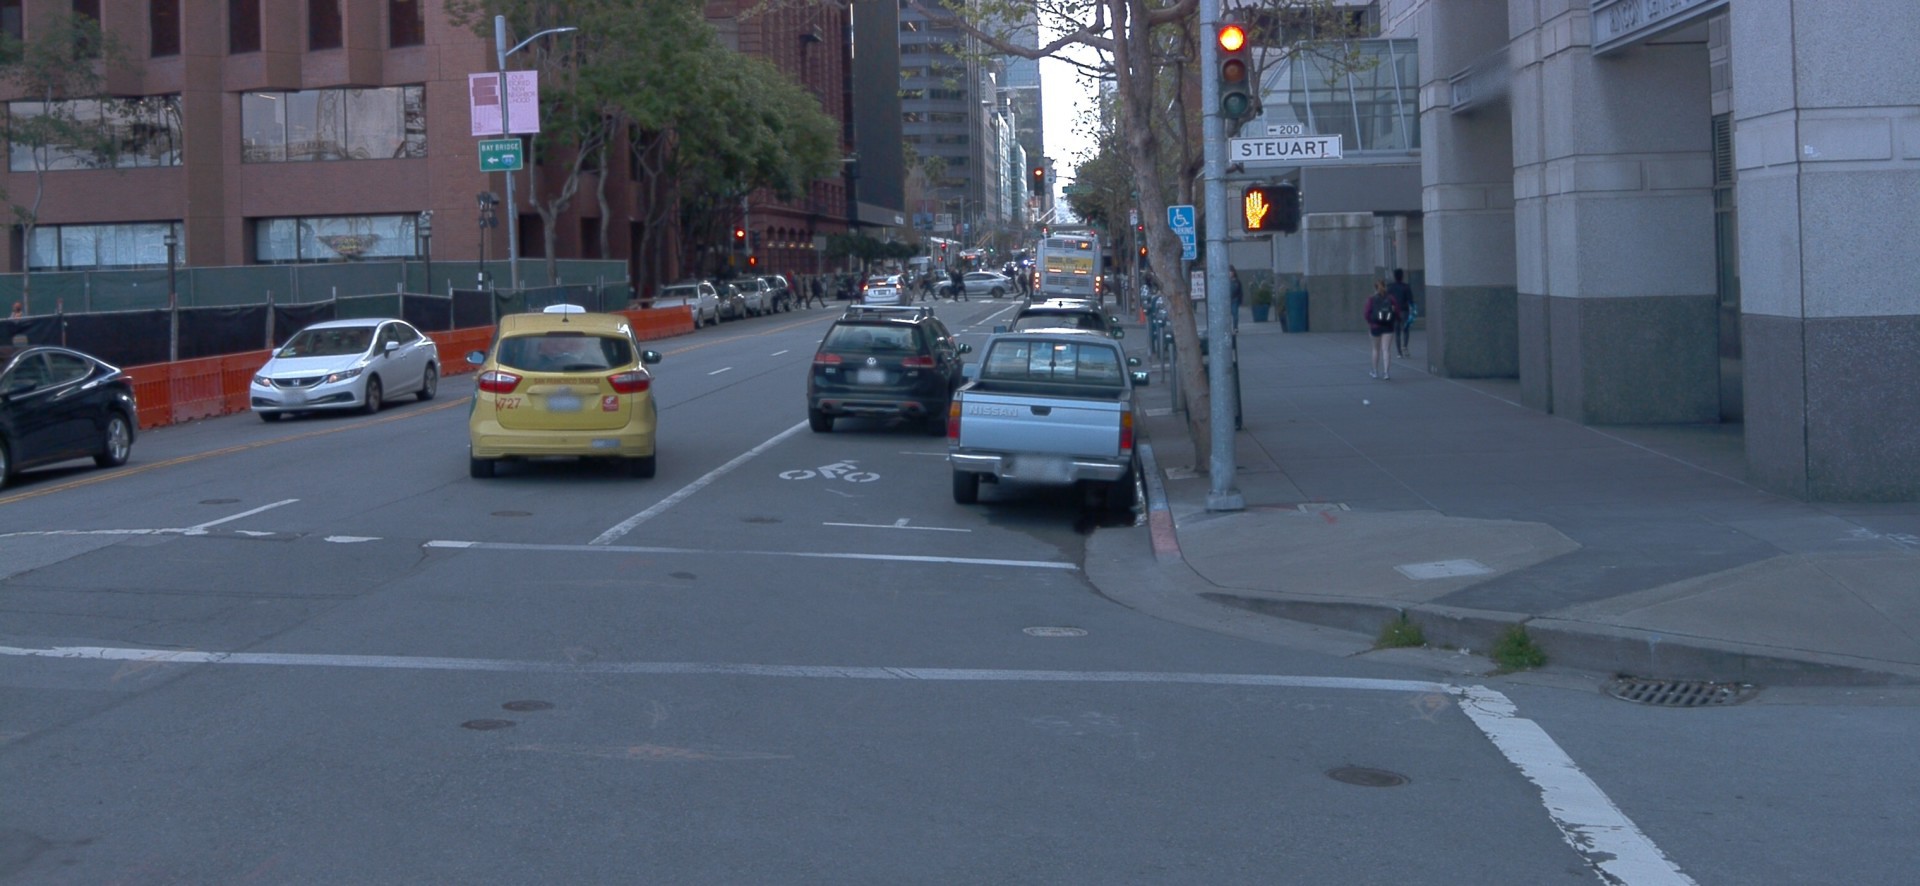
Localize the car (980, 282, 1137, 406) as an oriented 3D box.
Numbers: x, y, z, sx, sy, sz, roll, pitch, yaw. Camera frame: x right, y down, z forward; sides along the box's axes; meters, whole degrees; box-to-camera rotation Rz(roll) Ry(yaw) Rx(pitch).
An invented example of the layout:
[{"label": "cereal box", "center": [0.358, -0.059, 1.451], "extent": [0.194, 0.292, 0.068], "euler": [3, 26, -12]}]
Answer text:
[{"label": "car", "center": [1.533, -1.621, 32.208], "extent": [2.261, 1.663, 4.949], "euler": [0, 5, 3]}]

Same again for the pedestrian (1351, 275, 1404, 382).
[{"label": "pedestrian", "center": [6.613, -1.831, 32.720], "extent": [0.720, 1.649, 0.900], "euler": [0, 1, 5]}]

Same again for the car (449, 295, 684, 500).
[{"label": "car", "center": [-4.172, -0.599, 21.682], "extent": [2.179, 1.784, 4.421], "euler": [-1, 5, -12]}]

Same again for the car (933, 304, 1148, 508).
[{"label": "car", "center": [0.868, -0.480, 20.197], "extent": [1.863, 1.604, 4.695], "euler": [0, 5, 4]}]

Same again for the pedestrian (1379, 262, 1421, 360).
[{"label": "pedestrian", "center": [8.261, -2.482, 38.762], "extent": [0.713, 1.810, 0.742], "euler": [0, 1, 18]}]

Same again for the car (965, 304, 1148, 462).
[{"label": "car", "center": [1.292, -0.850, 26.098], "extent": [2.108, 1.654, 4.603], "euler": [0, 5, 4]}]

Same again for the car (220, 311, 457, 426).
[{"label": "car", "center": [-9.564, -1.226, 32.195], "extent": [2.056, 1.494, 4.643], "euler": [0, 5, 3]}]

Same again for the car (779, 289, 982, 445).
[{"label": "car", "center": [-0.939, -1.070, 26.896], "extent": [2.035, 1.754, 4.228], "euler": [0, 5, 6]}]
